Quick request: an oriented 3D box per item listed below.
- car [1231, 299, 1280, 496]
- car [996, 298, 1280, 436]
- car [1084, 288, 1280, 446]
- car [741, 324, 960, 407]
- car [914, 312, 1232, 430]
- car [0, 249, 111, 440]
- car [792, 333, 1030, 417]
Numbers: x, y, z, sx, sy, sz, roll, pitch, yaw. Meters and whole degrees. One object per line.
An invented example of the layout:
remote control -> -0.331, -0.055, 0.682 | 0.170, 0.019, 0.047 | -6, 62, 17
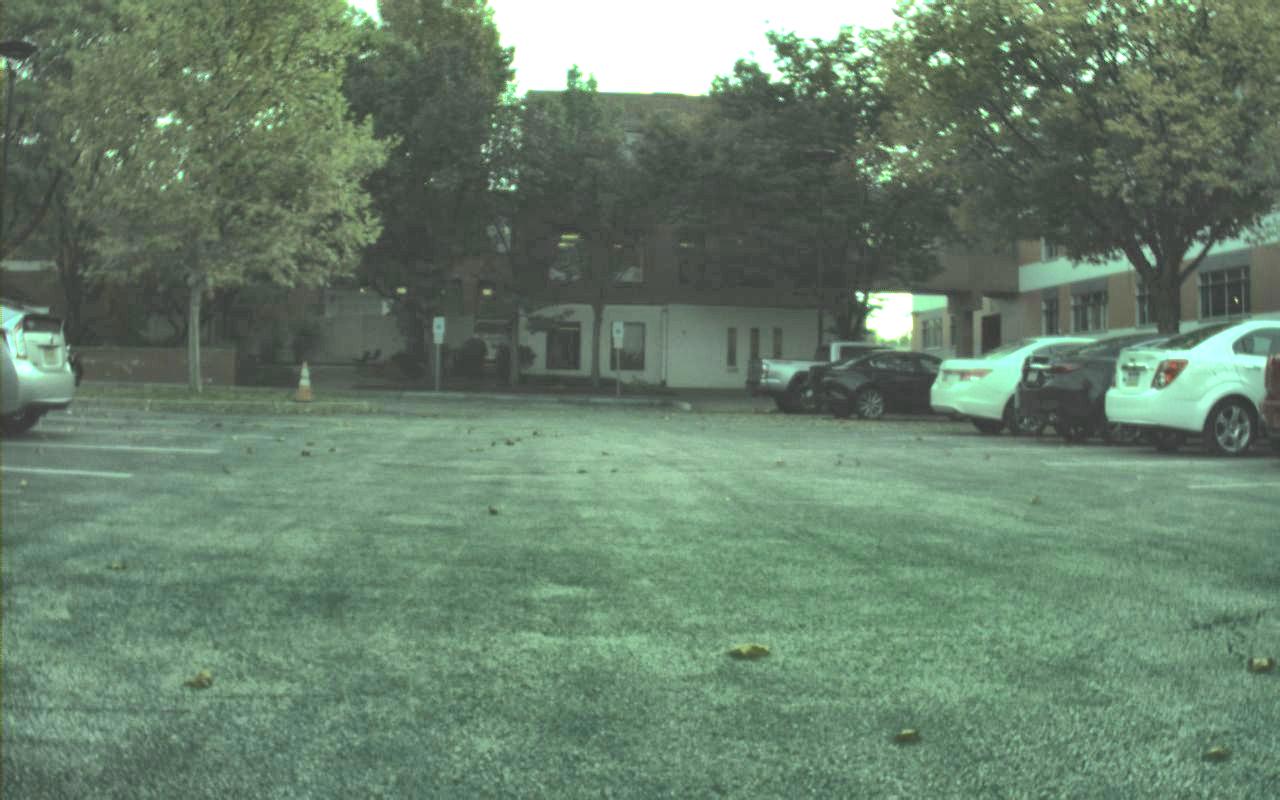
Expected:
car -> 7.935, 0.004, 10.176 | 4.406, 1.628, 1.949 | 0, 1, -5
car -> 6.939, -0.380, 15.231 | 4.427, 1.598, 1.914 | 0, 1, -6
car -> 7.285, -0.320, 12.863 | 4.373, 1.578, 1.892 | 0, 1, -4
car -> 5.123, -0.811, 30.556 | 5.010, 1.917, 2.098 | 0, 1, -7
car -> 6.445, -0.396, 17.836 | 4.553, 1.597, 1.945 | 0, 1, -3
car -> -7.696, -0.503, 10.780 | 4.575, 1.701, 2.008 | 0, 1, -6
car -> 5.593, -0.496, 25.529 | 4.592, 1.601, 1.959 | 0, 1, -14
